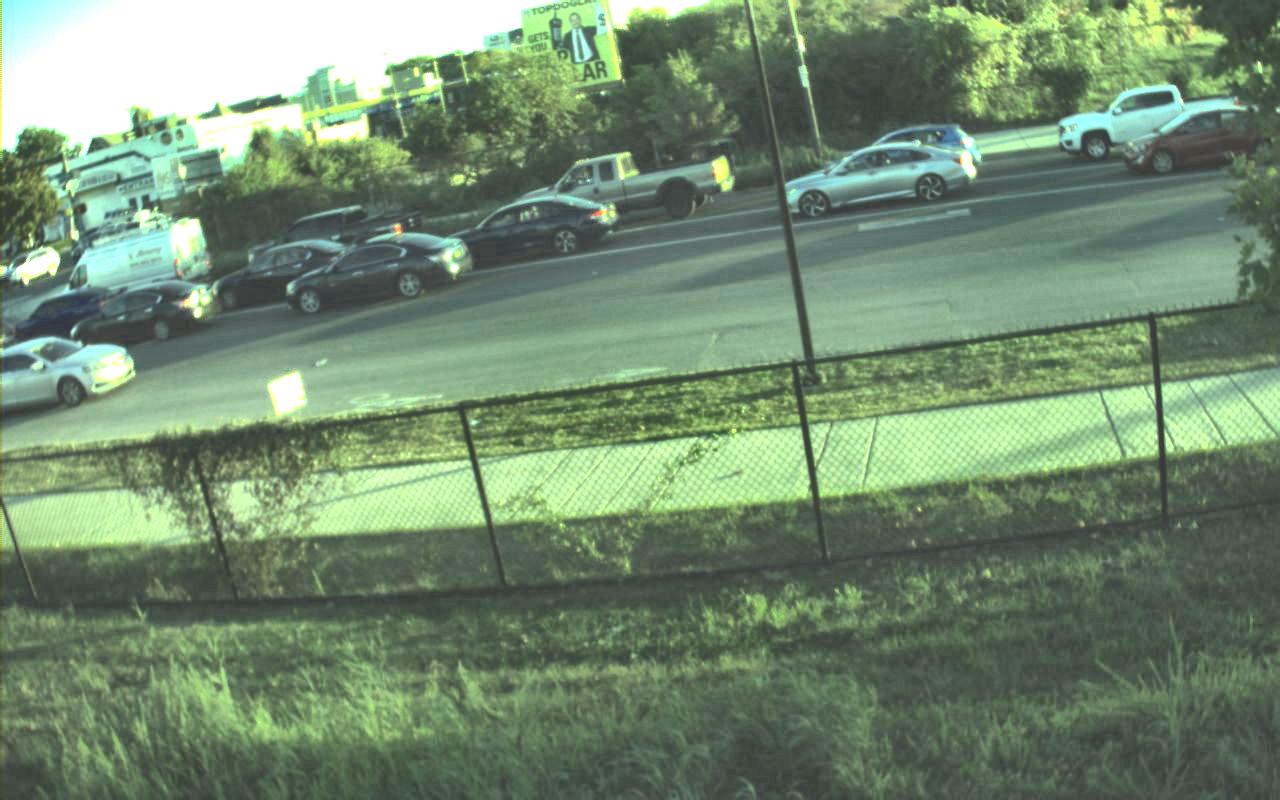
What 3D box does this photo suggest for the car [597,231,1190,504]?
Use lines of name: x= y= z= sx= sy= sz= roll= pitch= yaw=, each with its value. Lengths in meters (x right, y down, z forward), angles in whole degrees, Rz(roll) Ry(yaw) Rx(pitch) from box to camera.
car: x=2.214 y=-0.375 z=10.658 sx=4.718 sy=1.686 sz=2.040 roll=3 pitch=16 yaw=15

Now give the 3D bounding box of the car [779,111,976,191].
car: x=5.744 y=-6.015 z=29.665 sx=4.653 sy=1.633 sz=2.015 roll=3 pitch=16 yaw=12

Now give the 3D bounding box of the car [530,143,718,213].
car: x=-0.406 y=-6.224 z=34.991 sx=4.926 sy=1.712 sz=2.072 roll=2 pitch=16 yaw=11

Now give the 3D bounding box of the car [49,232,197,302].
car: x=-17.415 y=-4.366 z=39.079 sx=4.848 sy=1.942 sz=2.104 roll=2 pitch=16 yaw=10

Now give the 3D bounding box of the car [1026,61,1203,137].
car: x=12.941 y=-8.187 z=31.863 sx=4.849 sy=1.697 sz=2.057 roll=3 pitch=16 yaw=12
